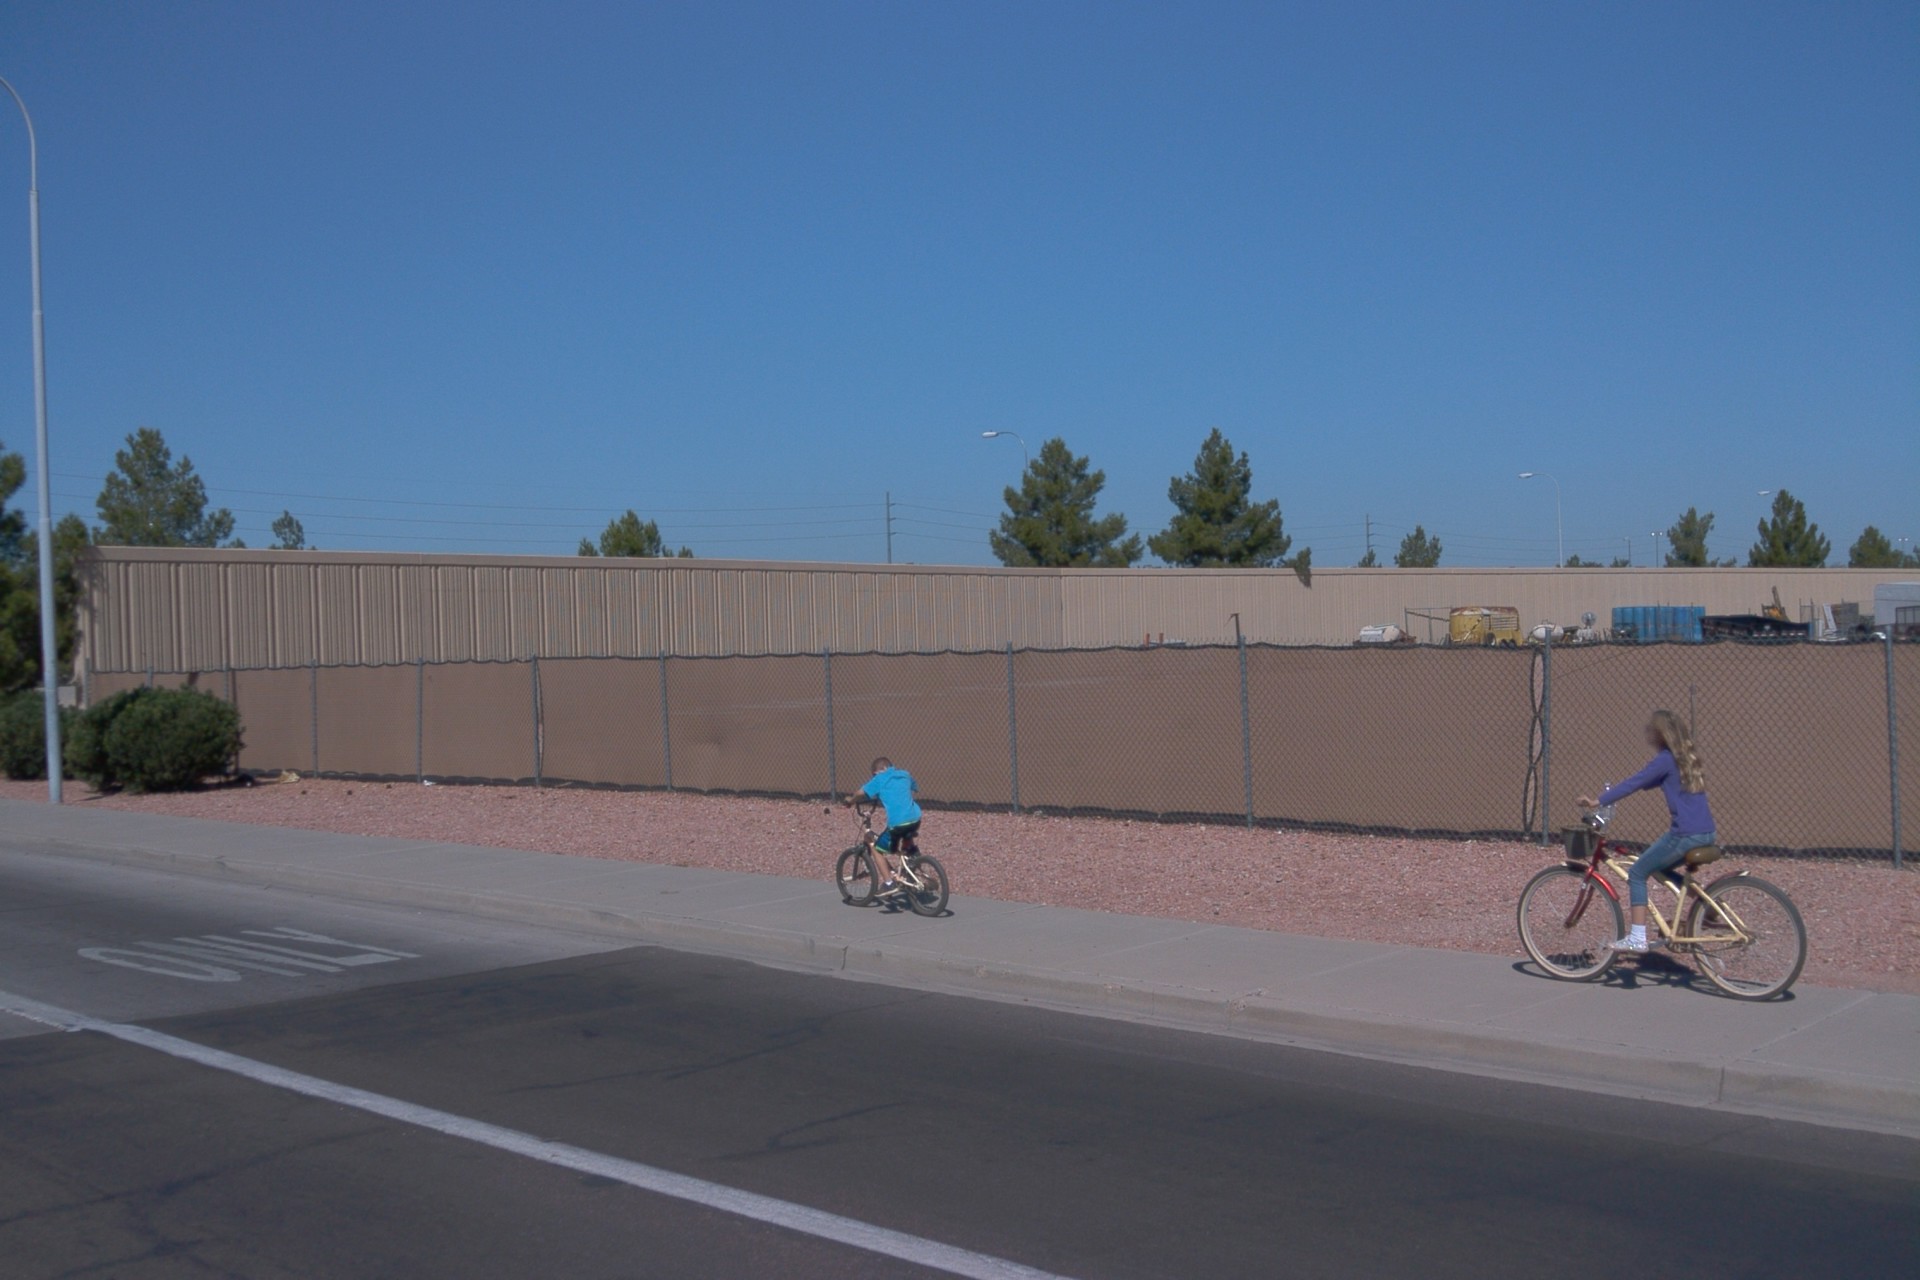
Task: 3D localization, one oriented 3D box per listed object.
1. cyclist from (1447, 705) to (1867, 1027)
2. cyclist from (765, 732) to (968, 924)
[{"bbox_3d":[3.720,1.142,11.240,1.967,1.570,0.813,-2,-1,45],"label":"cyclist"},{"bbox_3d":[-0.708,1.354,15.401,1.444,1.320,0.670,-2,-1,44],"label":"cyclist"}]
